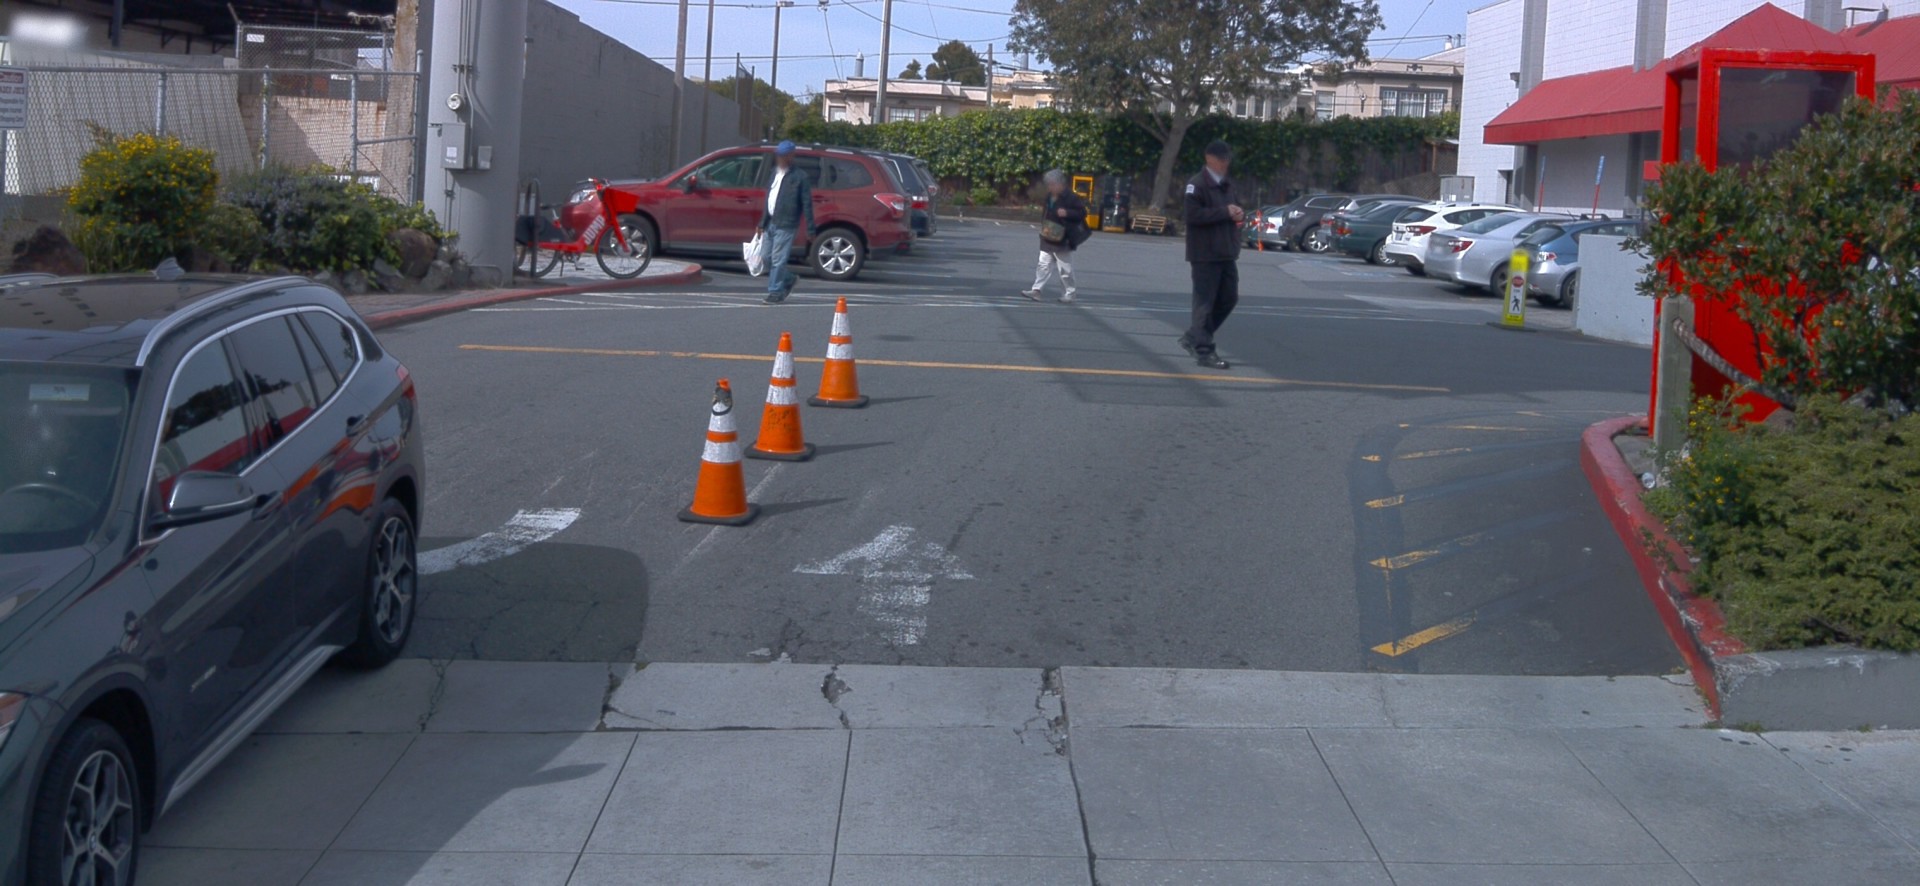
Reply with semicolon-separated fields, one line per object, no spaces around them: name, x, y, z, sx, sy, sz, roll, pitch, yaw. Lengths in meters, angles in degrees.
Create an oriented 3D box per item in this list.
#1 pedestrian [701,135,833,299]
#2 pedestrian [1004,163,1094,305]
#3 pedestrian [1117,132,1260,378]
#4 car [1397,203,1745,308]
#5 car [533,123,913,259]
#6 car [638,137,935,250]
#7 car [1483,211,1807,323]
pedestrian;-2.024;-2.364;21.686;1.009;1.670;0.952;1;2;31
pedestrian;1.085;-2.543;25.110;0.869;1.685;0.833;0;1;22
pedestrian;1.840;-1.522;16.661;0.825;1.920;0.796;-1;1;-33
car;10.632;-3.297;36.226;5.373;1.766;2.394;0;4;-2
car;-3.030;-3.299;27.207;4.792;1.717;2.140;0;3;-2
car;-2.922;-4.255;35.433;4.935;1.867;2.196;0;3;-2
car;11.074;-2.880;33.599;4.527;1.757;2.197;0;3;-2
